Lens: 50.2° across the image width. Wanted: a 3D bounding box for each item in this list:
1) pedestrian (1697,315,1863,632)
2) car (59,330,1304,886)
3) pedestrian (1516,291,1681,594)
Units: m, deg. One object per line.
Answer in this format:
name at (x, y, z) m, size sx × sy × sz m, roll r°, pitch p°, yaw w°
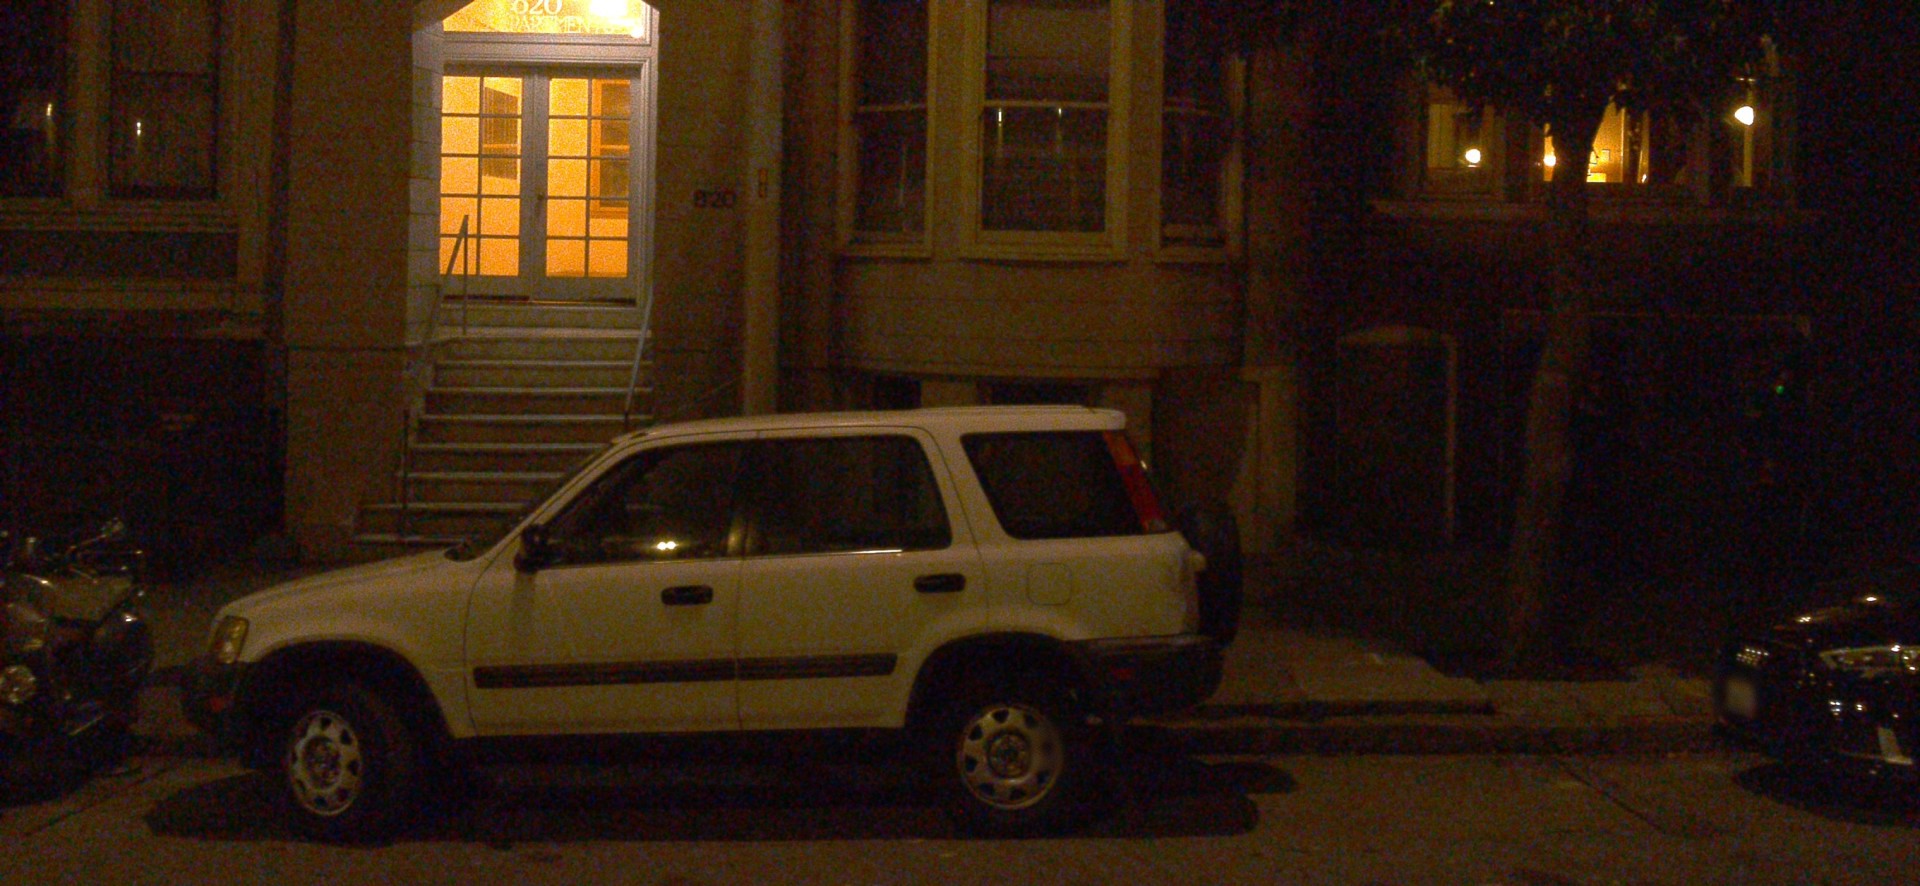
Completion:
pedestrian at (4.894, 0.154, 12.256) m, size 0.664 × 1.795 × 0.714 m, roll 0°, pitch 3°, yaw -5°
car at (-1.039, 0.562, 8.735) m, size 4.652 × 1.932 × 2.081 m, roll 0°, pitch 5°, yaw -1°
pedestrian at (4.125, -0.031, 13.289) m, size 0.824 × 1.875 × 0.780 m, roll 0°, pitch 3°, yaw 0°
